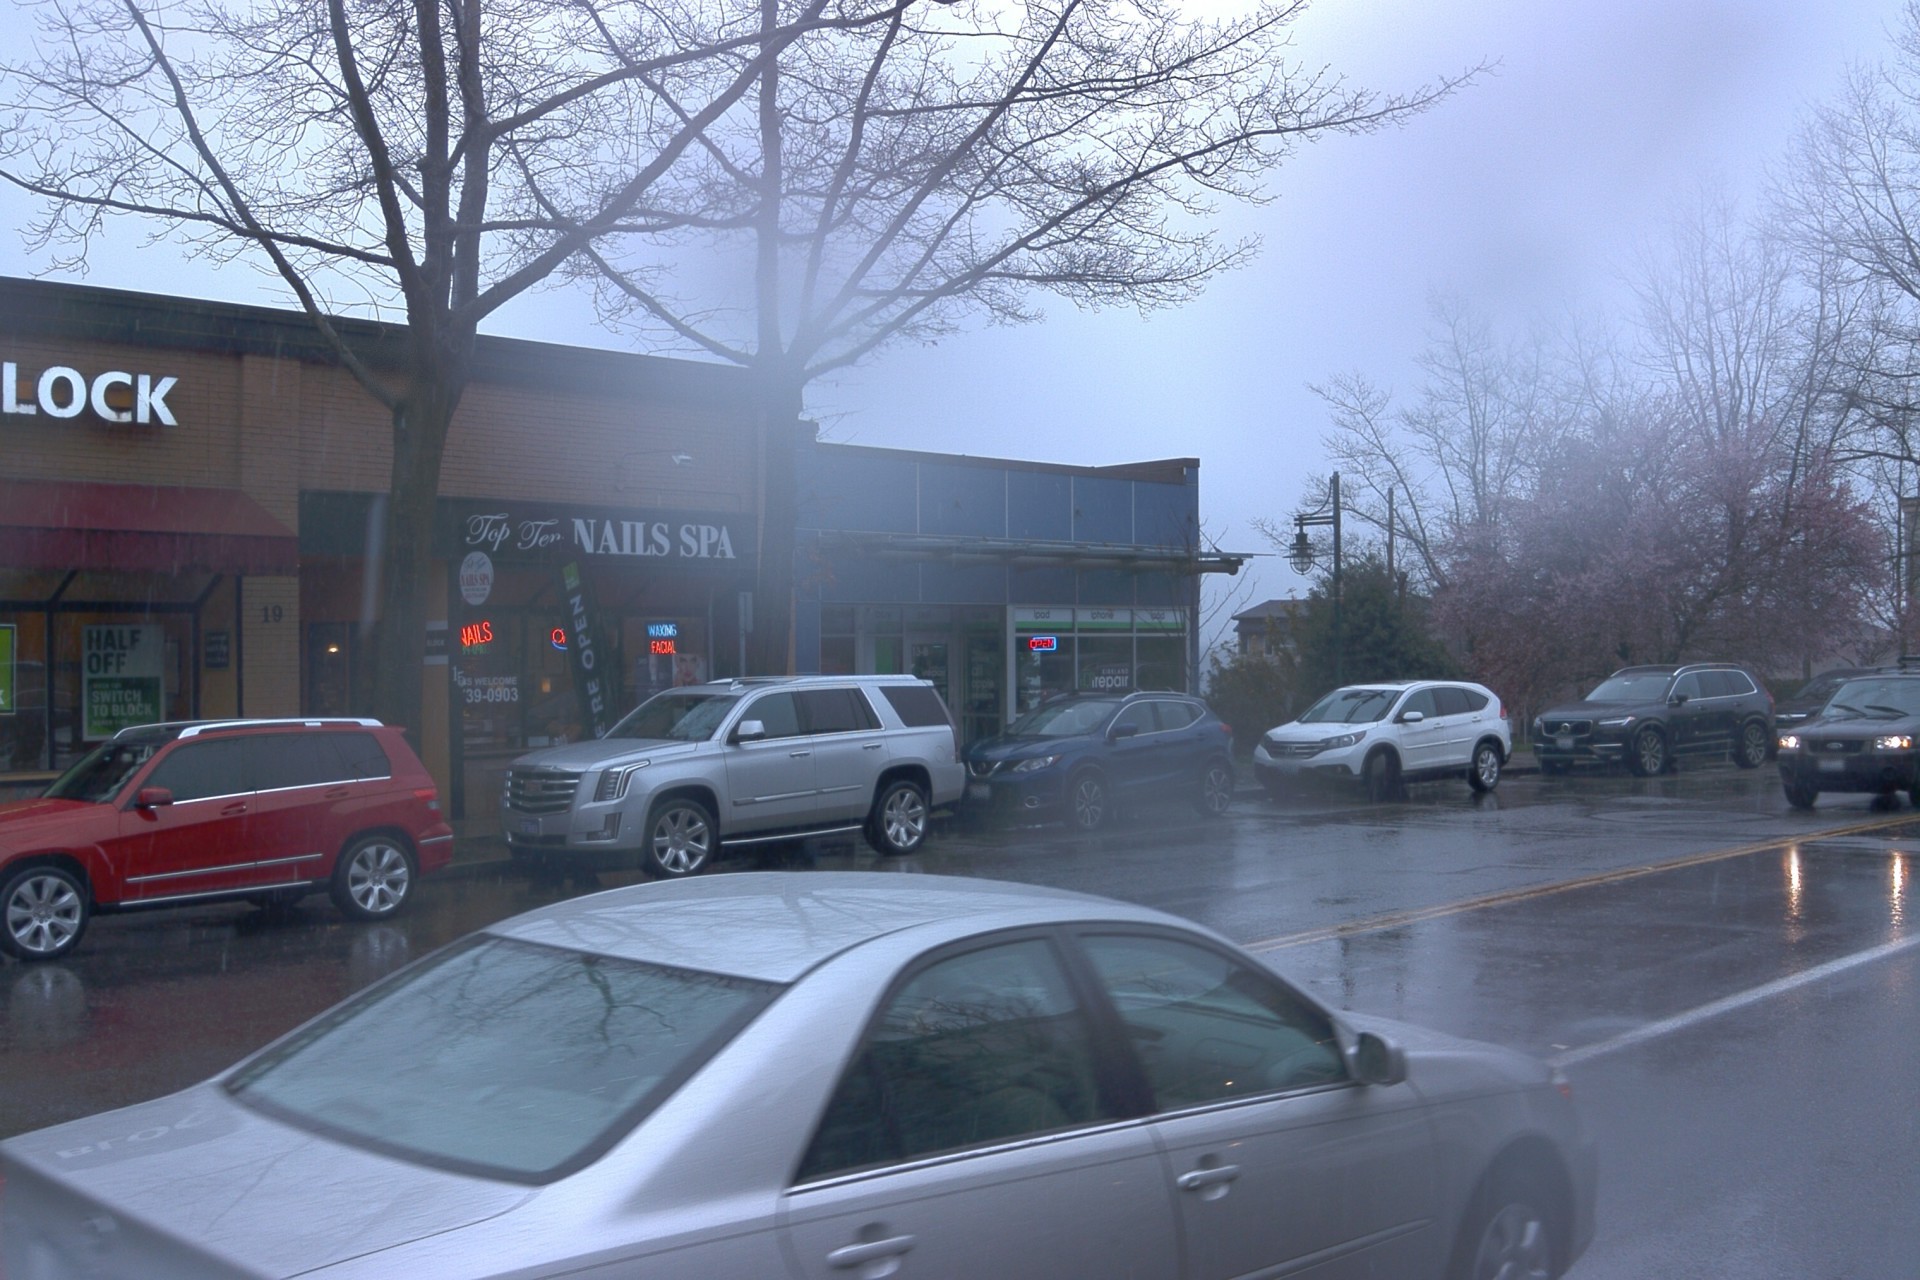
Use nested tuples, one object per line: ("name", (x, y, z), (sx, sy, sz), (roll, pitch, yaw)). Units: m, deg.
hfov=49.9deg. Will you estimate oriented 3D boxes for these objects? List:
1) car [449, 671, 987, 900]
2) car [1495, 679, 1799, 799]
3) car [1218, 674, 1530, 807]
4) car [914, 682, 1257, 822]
("car", (-2.324, 1.335, 21.063), (2.331, 1.890, 5.194), (1, 1, 42))
("car", (11.400, 1.561, 34.086), (5.296, 1.690, 2.144), (-1, 1, -37))
("car", (5.990, 1.368, 29.627), (4.481, 1.610, 2.181), (-1, 1, -43))
("car", (1.618, 1.298, 25.304), (1.999, 1.400, 4.335), (1, 1, 40))
